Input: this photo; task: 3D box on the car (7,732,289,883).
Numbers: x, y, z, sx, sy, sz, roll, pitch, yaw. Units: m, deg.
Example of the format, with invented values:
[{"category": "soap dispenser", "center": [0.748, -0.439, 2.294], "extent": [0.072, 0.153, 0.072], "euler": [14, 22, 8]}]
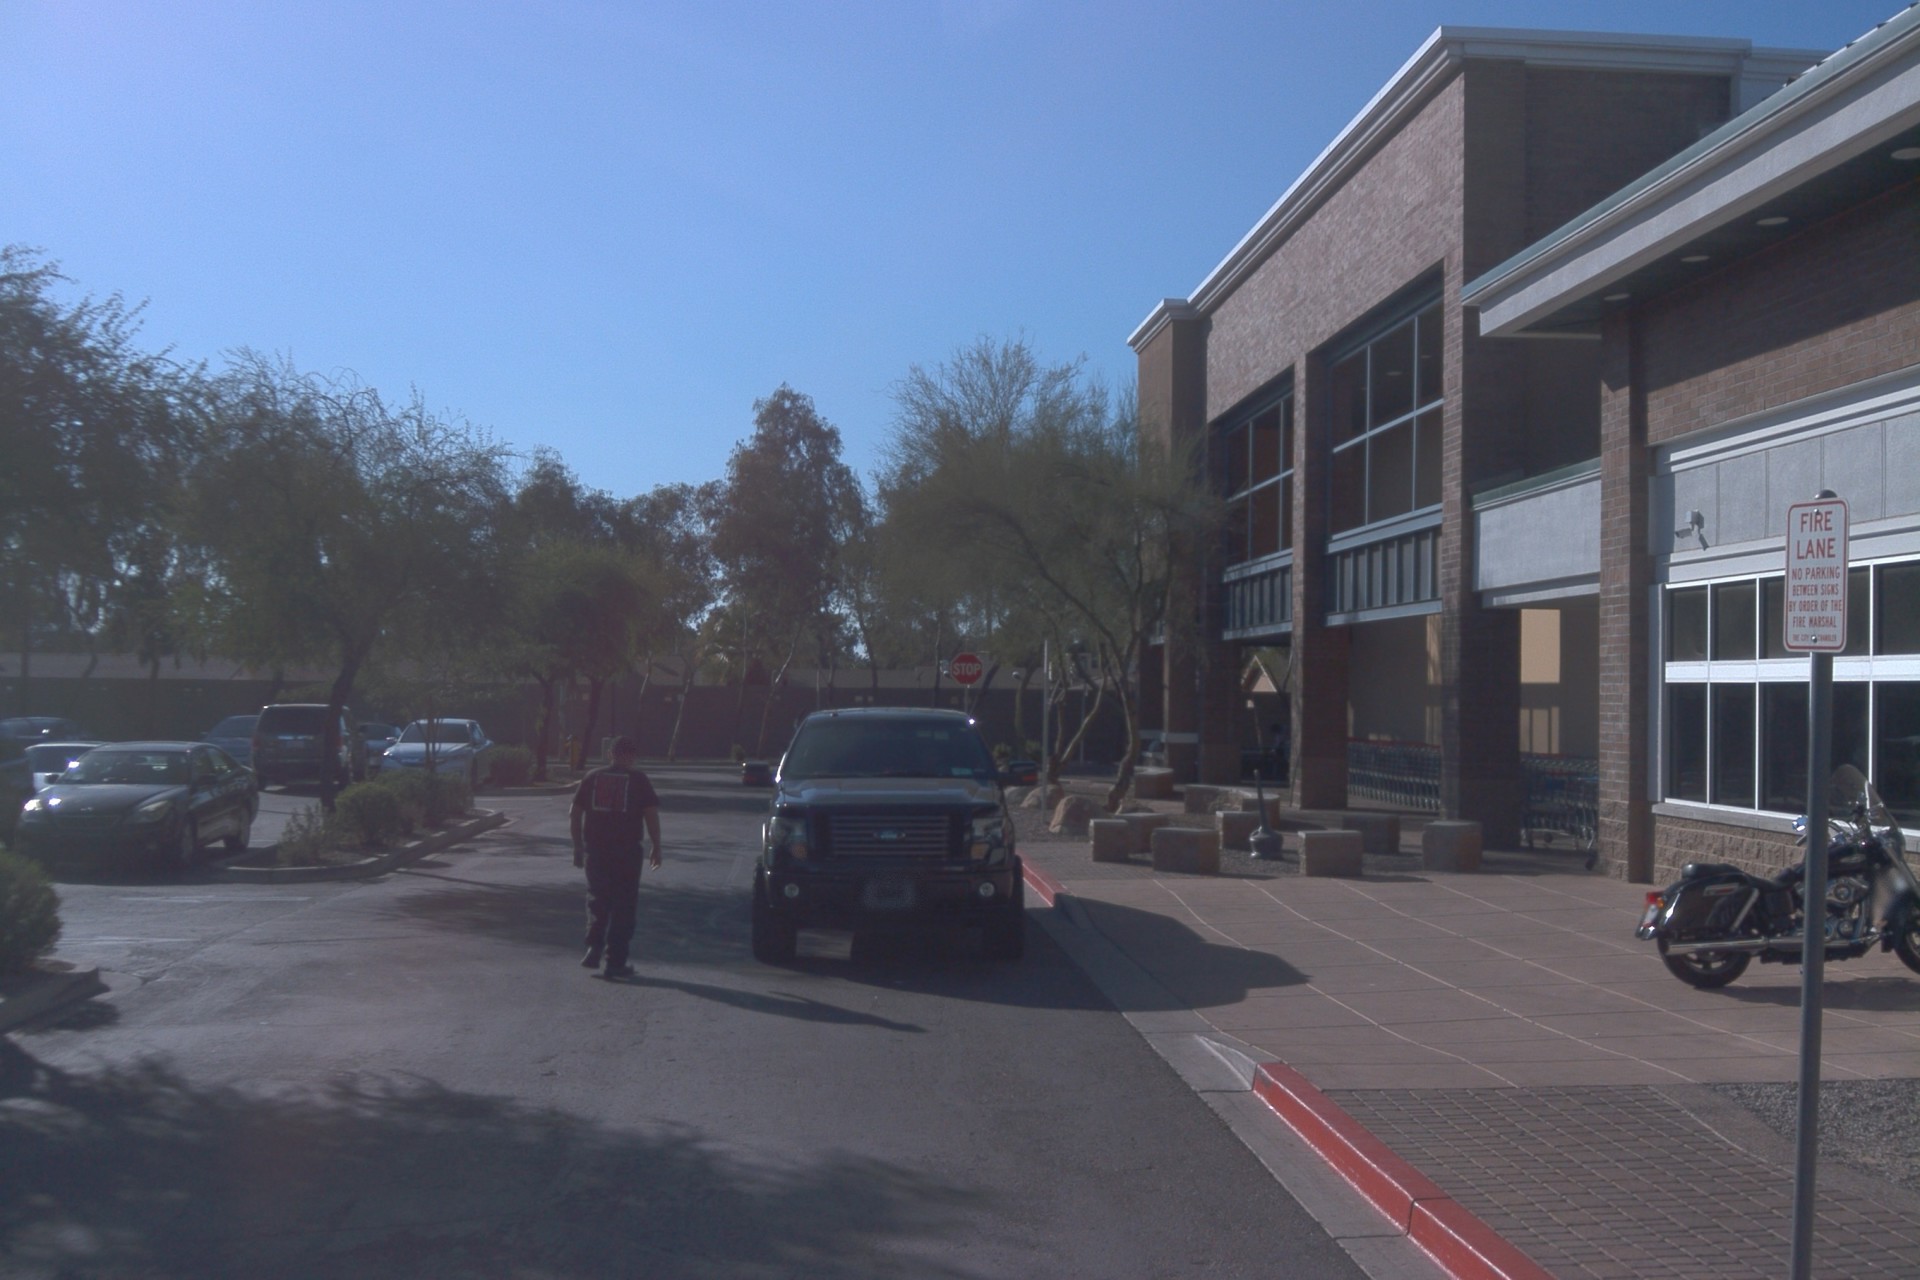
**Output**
[{"category": "car", "center": [-9.816, 1.966, 25.508], "extent": [1.929, 1.560, 4.784], "euler": [0, -1, -4]}]

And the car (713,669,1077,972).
[{"category": "car", "center": [-0.664, 1.388, 18.074], "extent": [2.652, 2.190, 5.670], "euler": [0, -1, -4]}]

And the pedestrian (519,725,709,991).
[{"category": "pedestrian", "center": [-2.549, 1.579, 15.422], "extent": [1.077, 1.870, 1.181], "euler": [-1, -1, 9]}]
